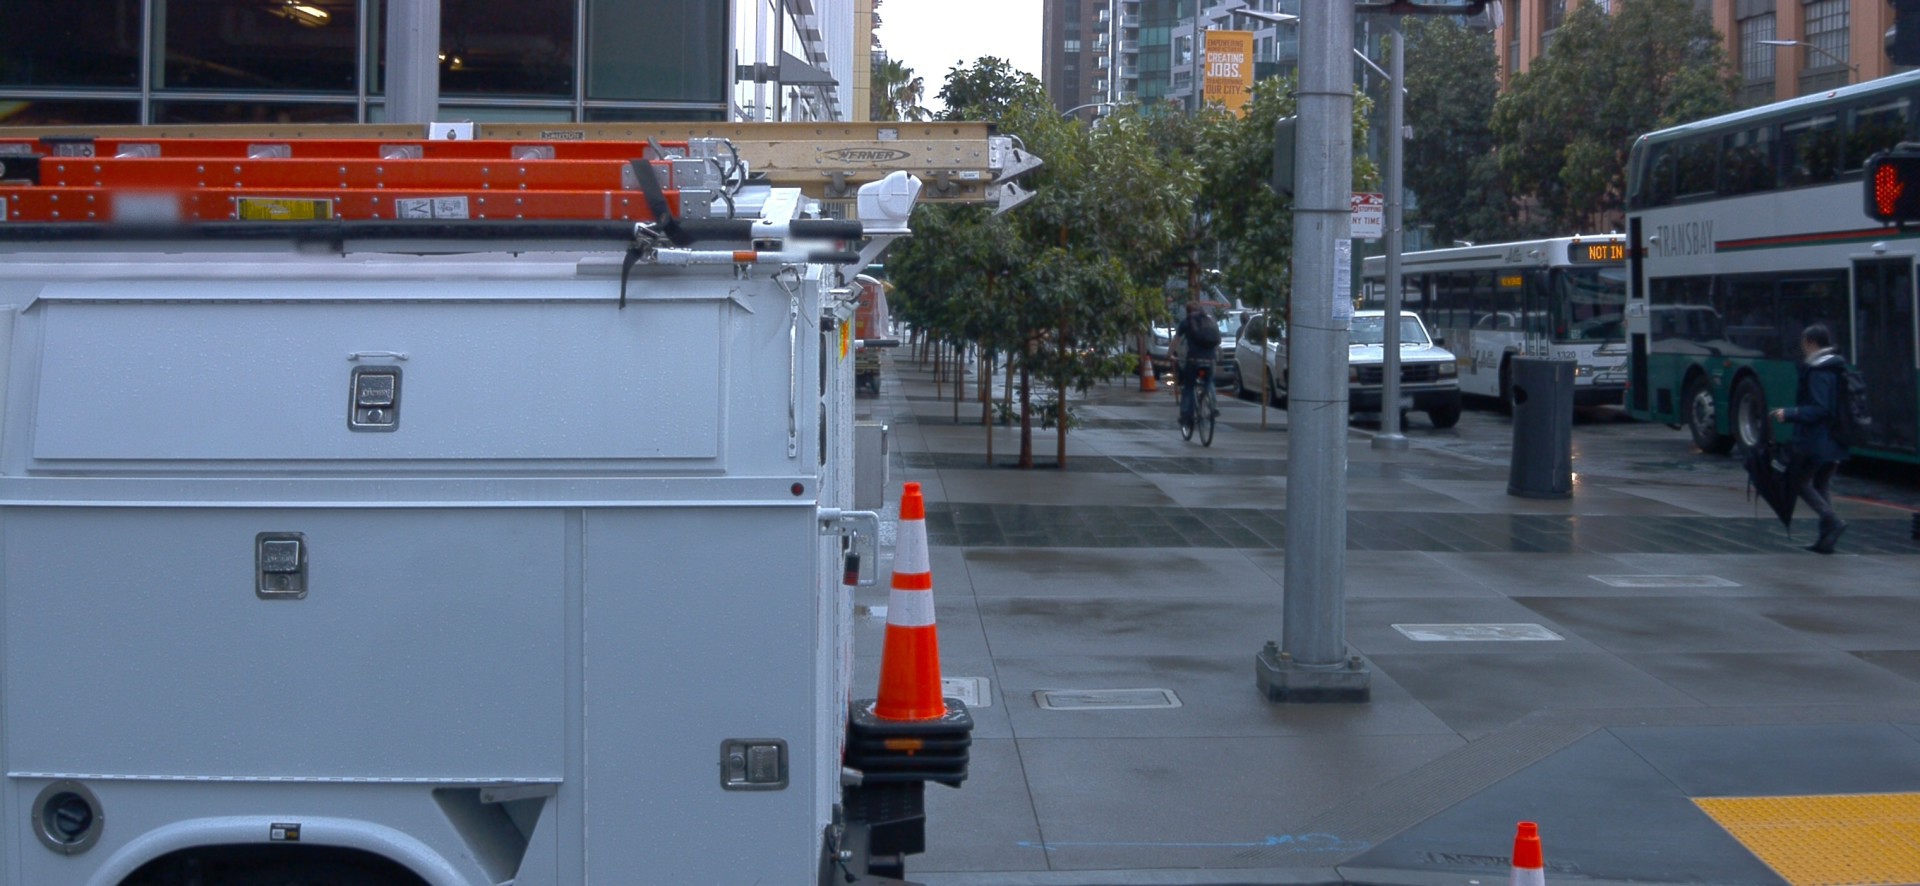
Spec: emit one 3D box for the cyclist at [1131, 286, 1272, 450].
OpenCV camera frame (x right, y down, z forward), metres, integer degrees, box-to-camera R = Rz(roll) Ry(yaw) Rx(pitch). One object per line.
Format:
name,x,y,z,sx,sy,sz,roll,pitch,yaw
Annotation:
cyclist,2.750,-0.905,23.661,1.210,1.741,2.030,0,4,-6

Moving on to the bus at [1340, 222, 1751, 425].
bus,9.873,-2.429,36.829,3.258,2.996,12.707,0,6,-2
